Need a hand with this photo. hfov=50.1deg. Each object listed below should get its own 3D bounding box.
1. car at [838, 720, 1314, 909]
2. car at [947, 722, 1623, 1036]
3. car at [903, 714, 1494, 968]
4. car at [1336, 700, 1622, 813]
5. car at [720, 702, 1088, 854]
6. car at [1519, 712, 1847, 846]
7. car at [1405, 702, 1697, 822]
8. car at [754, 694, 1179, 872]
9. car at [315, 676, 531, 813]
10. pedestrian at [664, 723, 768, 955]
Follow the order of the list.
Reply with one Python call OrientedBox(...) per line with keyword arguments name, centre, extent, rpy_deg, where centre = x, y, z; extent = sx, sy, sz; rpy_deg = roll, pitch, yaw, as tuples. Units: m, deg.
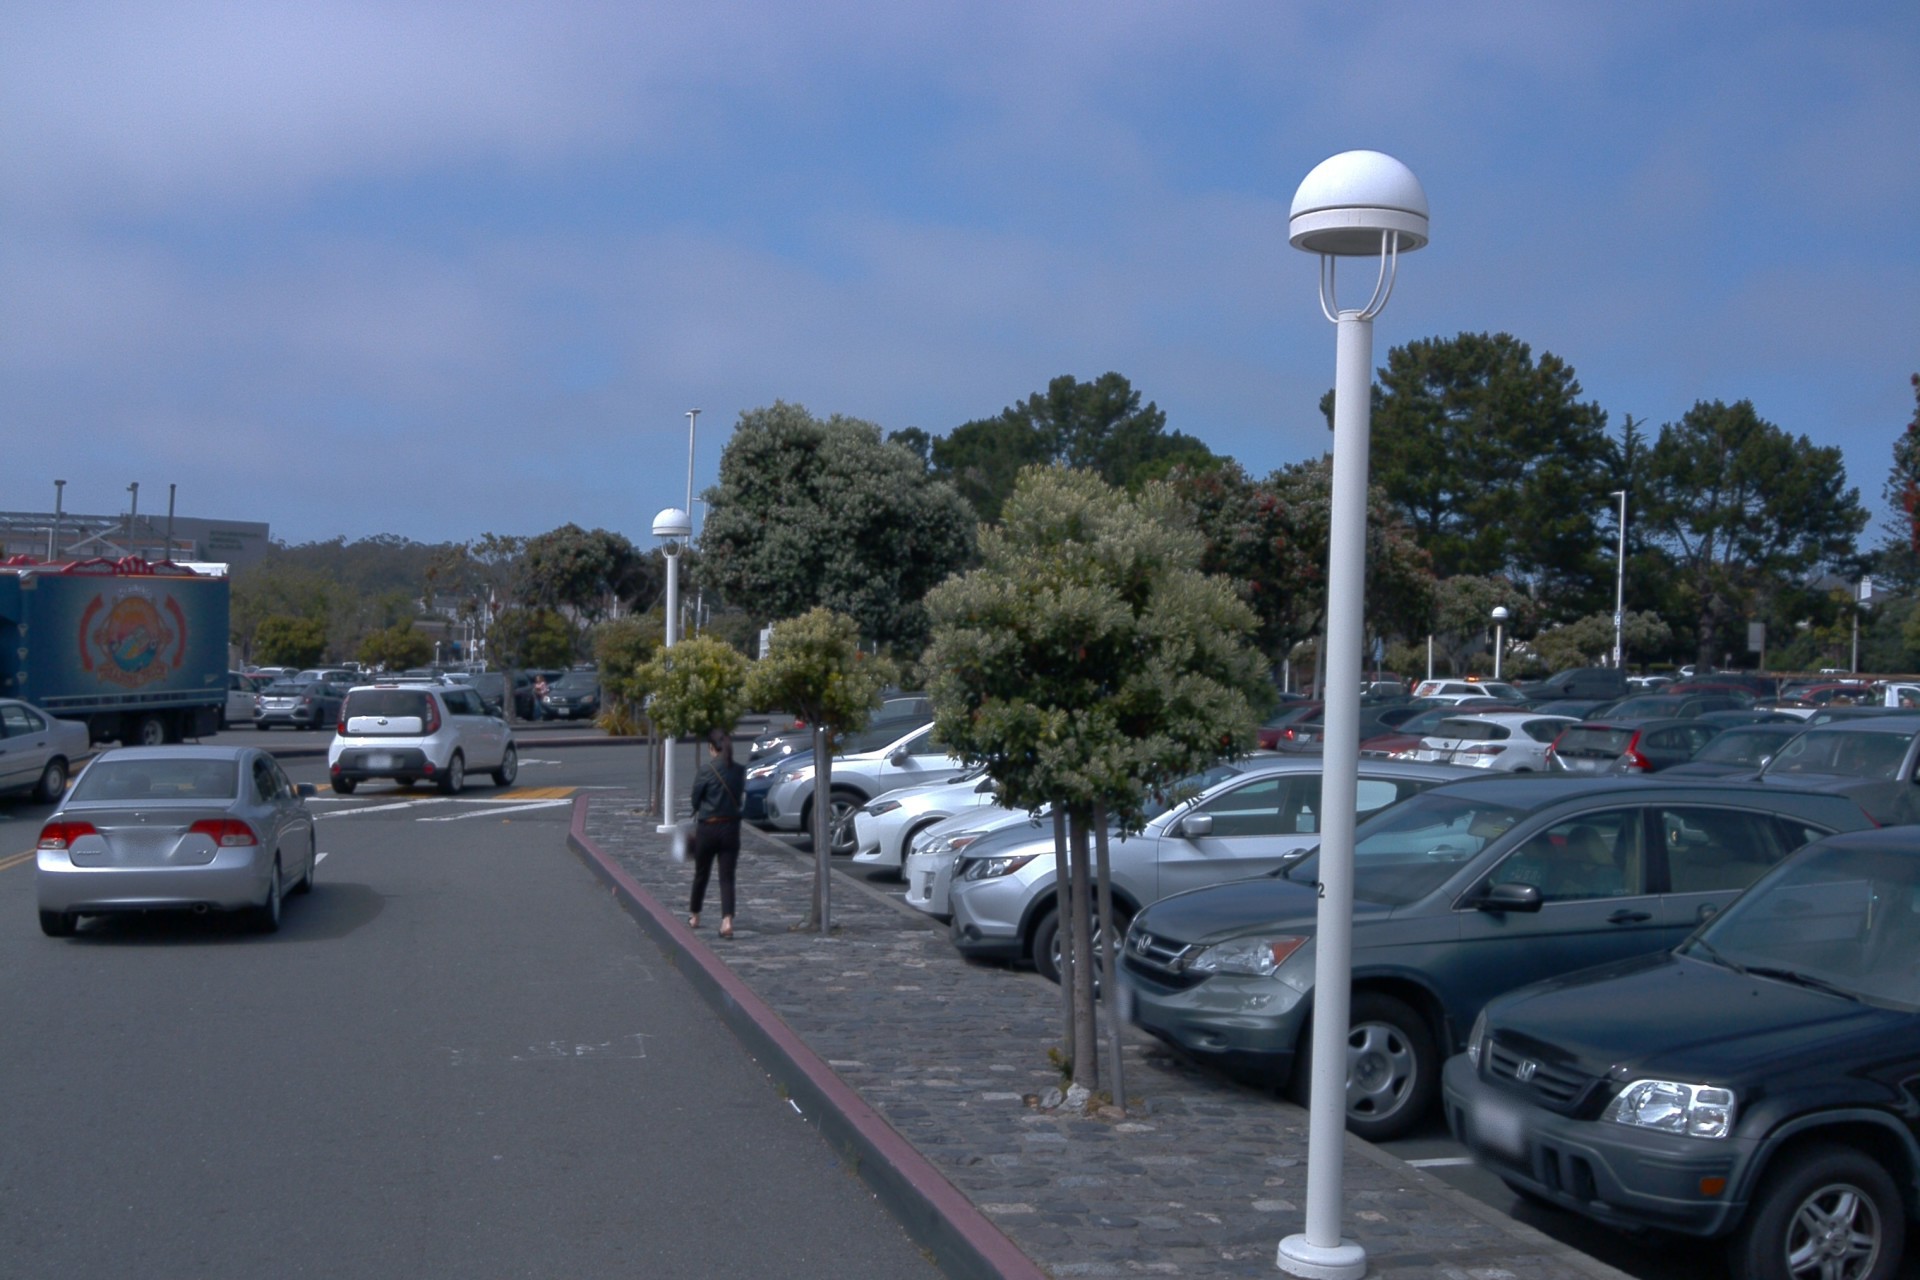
OrientedBox(name="car", centre=(1.154, 1.683, 20.463), extent=(4.491, 1.670, 2.048), rpy_deg=(0, 0, 5))
OrientedBox(name="car", centre=(2.071, 1.570, 14.168), extent=(4.301, 1.900, 2.079), rpy_deg=(0, 0, 0))
OrientedBox(name="car", centre=(1.837, 1.599, 17.045), extent=(4.606, 1.860, 2.067), rpy_deg=(0, 0, -1))
OrientedBox(name="car", centre=(8.577, 1.869, 33.920), extent=(4.457, 1.600, 1.967), rpy_deg=(0, 0, -30))
OrientedBox(name="car", centre=(-0.633, 1.691, 25.862), extent=(4.450, 1.740, 1.961), rpy_deg=(0, 0, 5))
OrientedBox(name="car", centre=(10.140, 1.877, 28.782), extent=(4.304, 1.550, 2.125), rpy_deg=(-1, 1, -33))
OrientedBox(name="car", centre=(8.987, 1.804, 31.233), extent=(4.042, 1.550, 2.030), rpy_deg=(0, 1, -31))
OrientedBox(name="car", centre=(0.145, 1.561, 23.238), extent=(4.625, 1.830, 2.009), rpy_deg=(0, 0, 7))
OrientedBox(name="car", centre=(-7.866, 1.480, 30.514), extent=(1.873, 1.780, 4.040), rpy_deg=(0, 0, 5))
OrientedBox(name="pedestrian", centre=(-1.756, 1.401, 14.721), extent=(0.628, 1.570, 0.741), rpy_deg=(0, 0, -15))
